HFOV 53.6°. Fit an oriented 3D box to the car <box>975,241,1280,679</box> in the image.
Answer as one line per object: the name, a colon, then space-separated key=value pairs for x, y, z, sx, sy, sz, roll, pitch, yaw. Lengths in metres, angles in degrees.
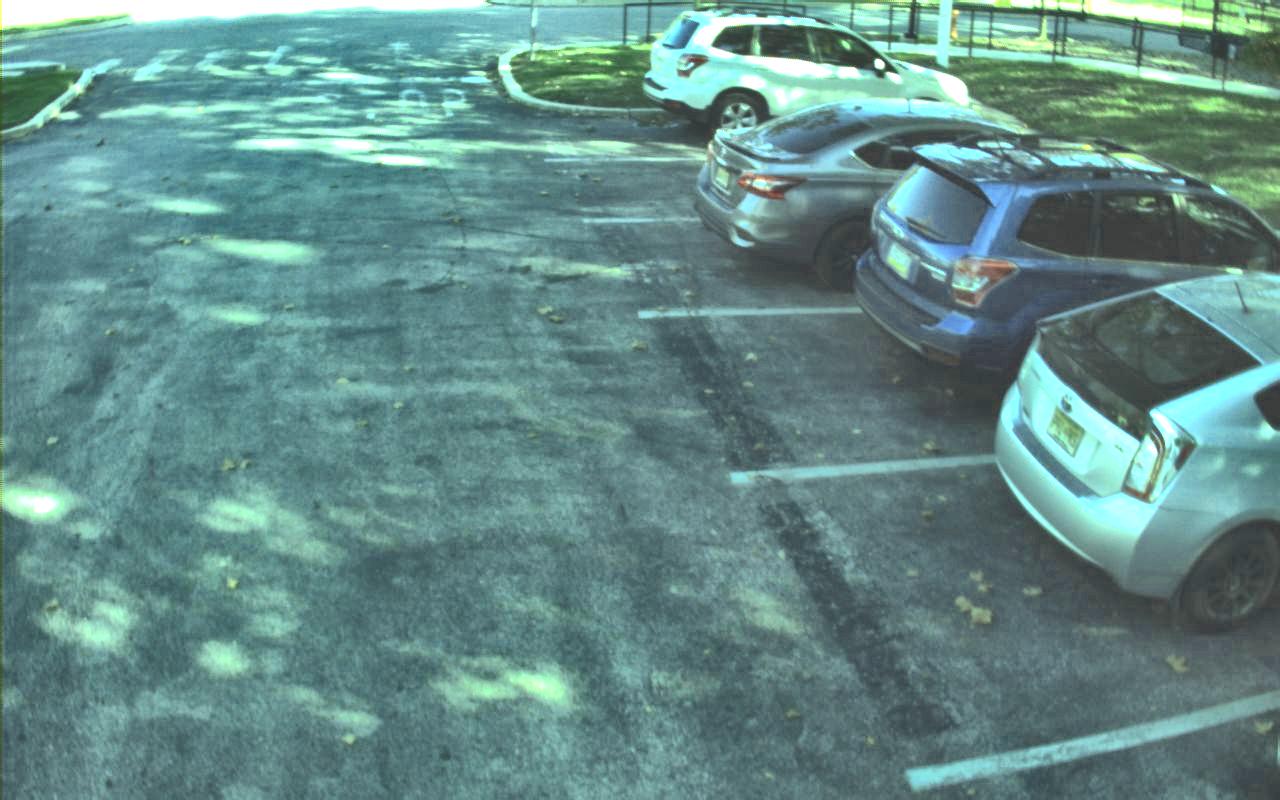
car: x=4.181 y=0.086 z=6.197 sx=4.333 sy=1.564 sz=1.908 roll=-4 pitch=17 yaw=-10

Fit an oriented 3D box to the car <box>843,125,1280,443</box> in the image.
car: x=3.854 y=-1.015 z=8.493 sx=4.463 sy=1.713 sz=1.972 roll=-5 pitch=17 yaw=-12

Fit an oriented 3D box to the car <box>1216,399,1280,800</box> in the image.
car: x=4.704 y=1.200 z=3.741 sx=4.379 sy=1.570 sz=1.938 roll=-4 pitch=17 yaw=-11

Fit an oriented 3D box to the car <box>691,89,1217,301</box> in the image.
car: x=2.909 y=-1.982 z=11.041 sx=4.559 sy=1.559 sz=1.950 roll=-5 pitch=17 yaw=-13

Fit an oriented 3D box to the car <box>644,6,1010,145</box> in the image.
car: x=2.523 y=-4.413 z=16.500 sx=4.611 sy=1.728 sz=1.996 roll=-5 pitch=17 yaw=-12
